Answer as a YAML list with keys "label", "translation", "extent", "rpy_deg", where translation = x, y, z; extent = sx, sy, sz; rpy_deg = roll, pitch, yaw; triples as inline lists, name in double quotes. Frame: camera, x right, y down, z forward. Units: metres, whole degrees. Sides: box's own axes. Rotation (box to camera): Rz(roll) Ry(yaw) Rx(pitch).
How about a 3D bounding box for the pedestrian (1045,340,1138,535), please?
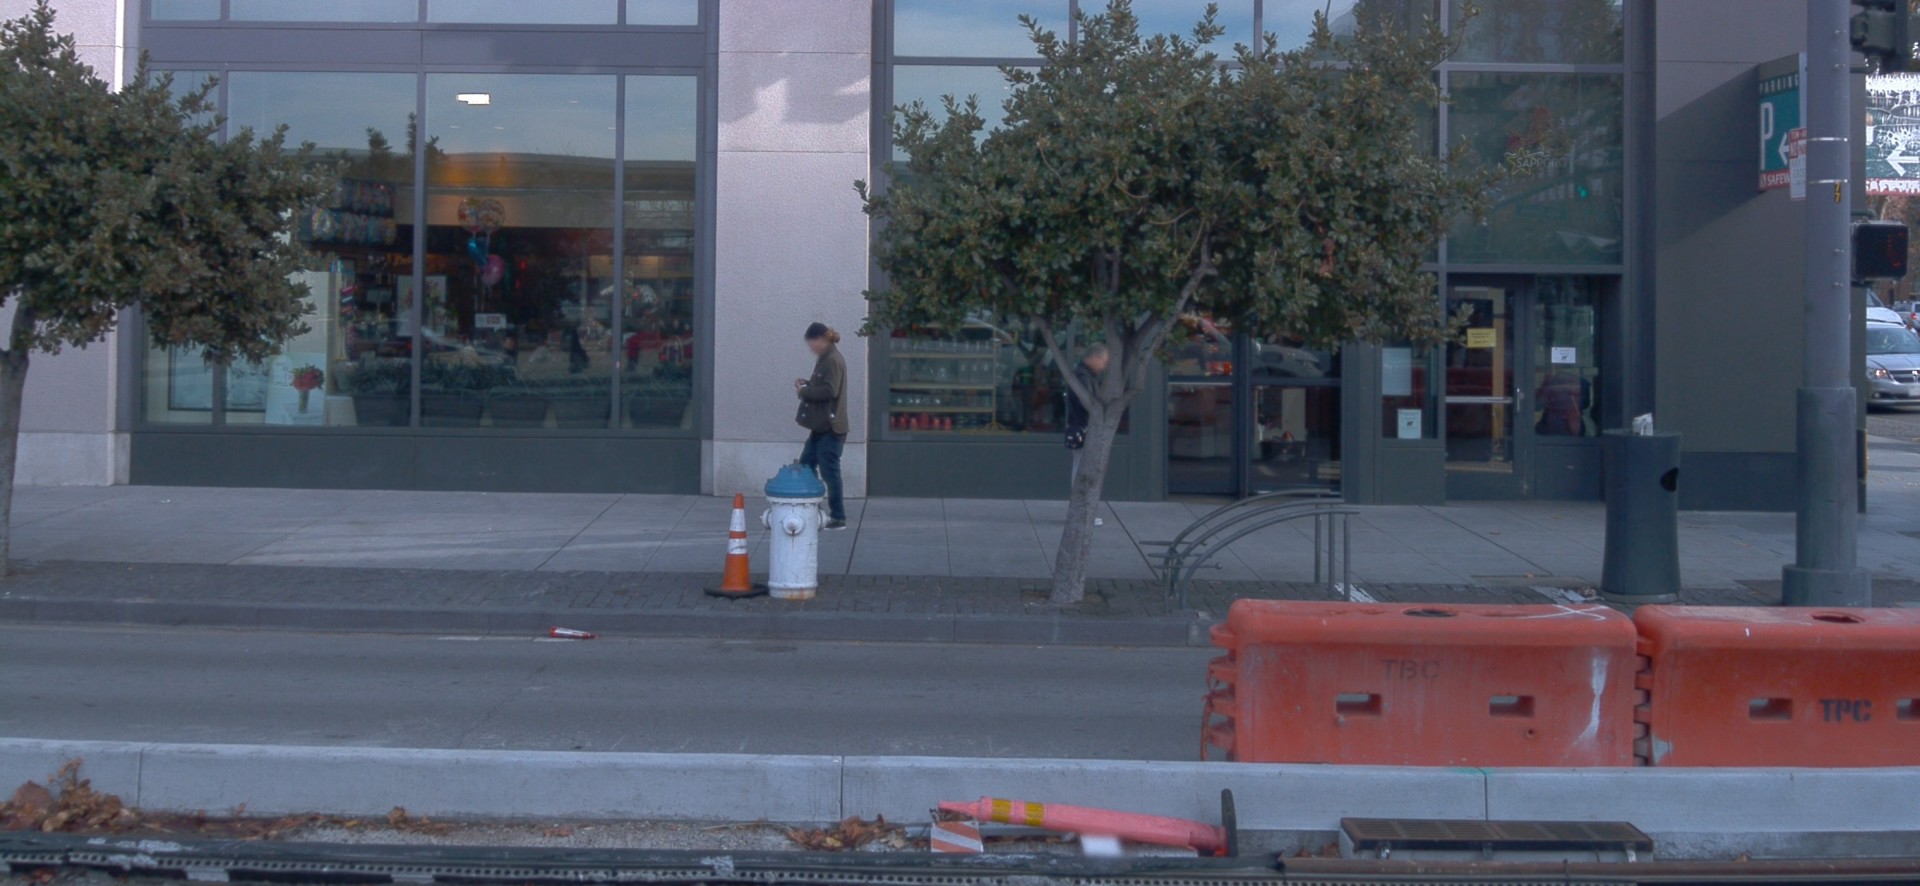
- label: "pedestrian"
  translation: [1.147, -0.062, 18.170]
  extent: [0.683, 1.627, 0.774]
  rpy_deg: [1, 1, -4]

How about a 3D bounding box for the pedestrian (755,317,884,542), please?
- label: "pedestrian"
  translation: [-1.181, -0.140, 17.592]
  extent: [1.000, 1.815, 0.864]
  rpy_deg: [1, 1, 0]
